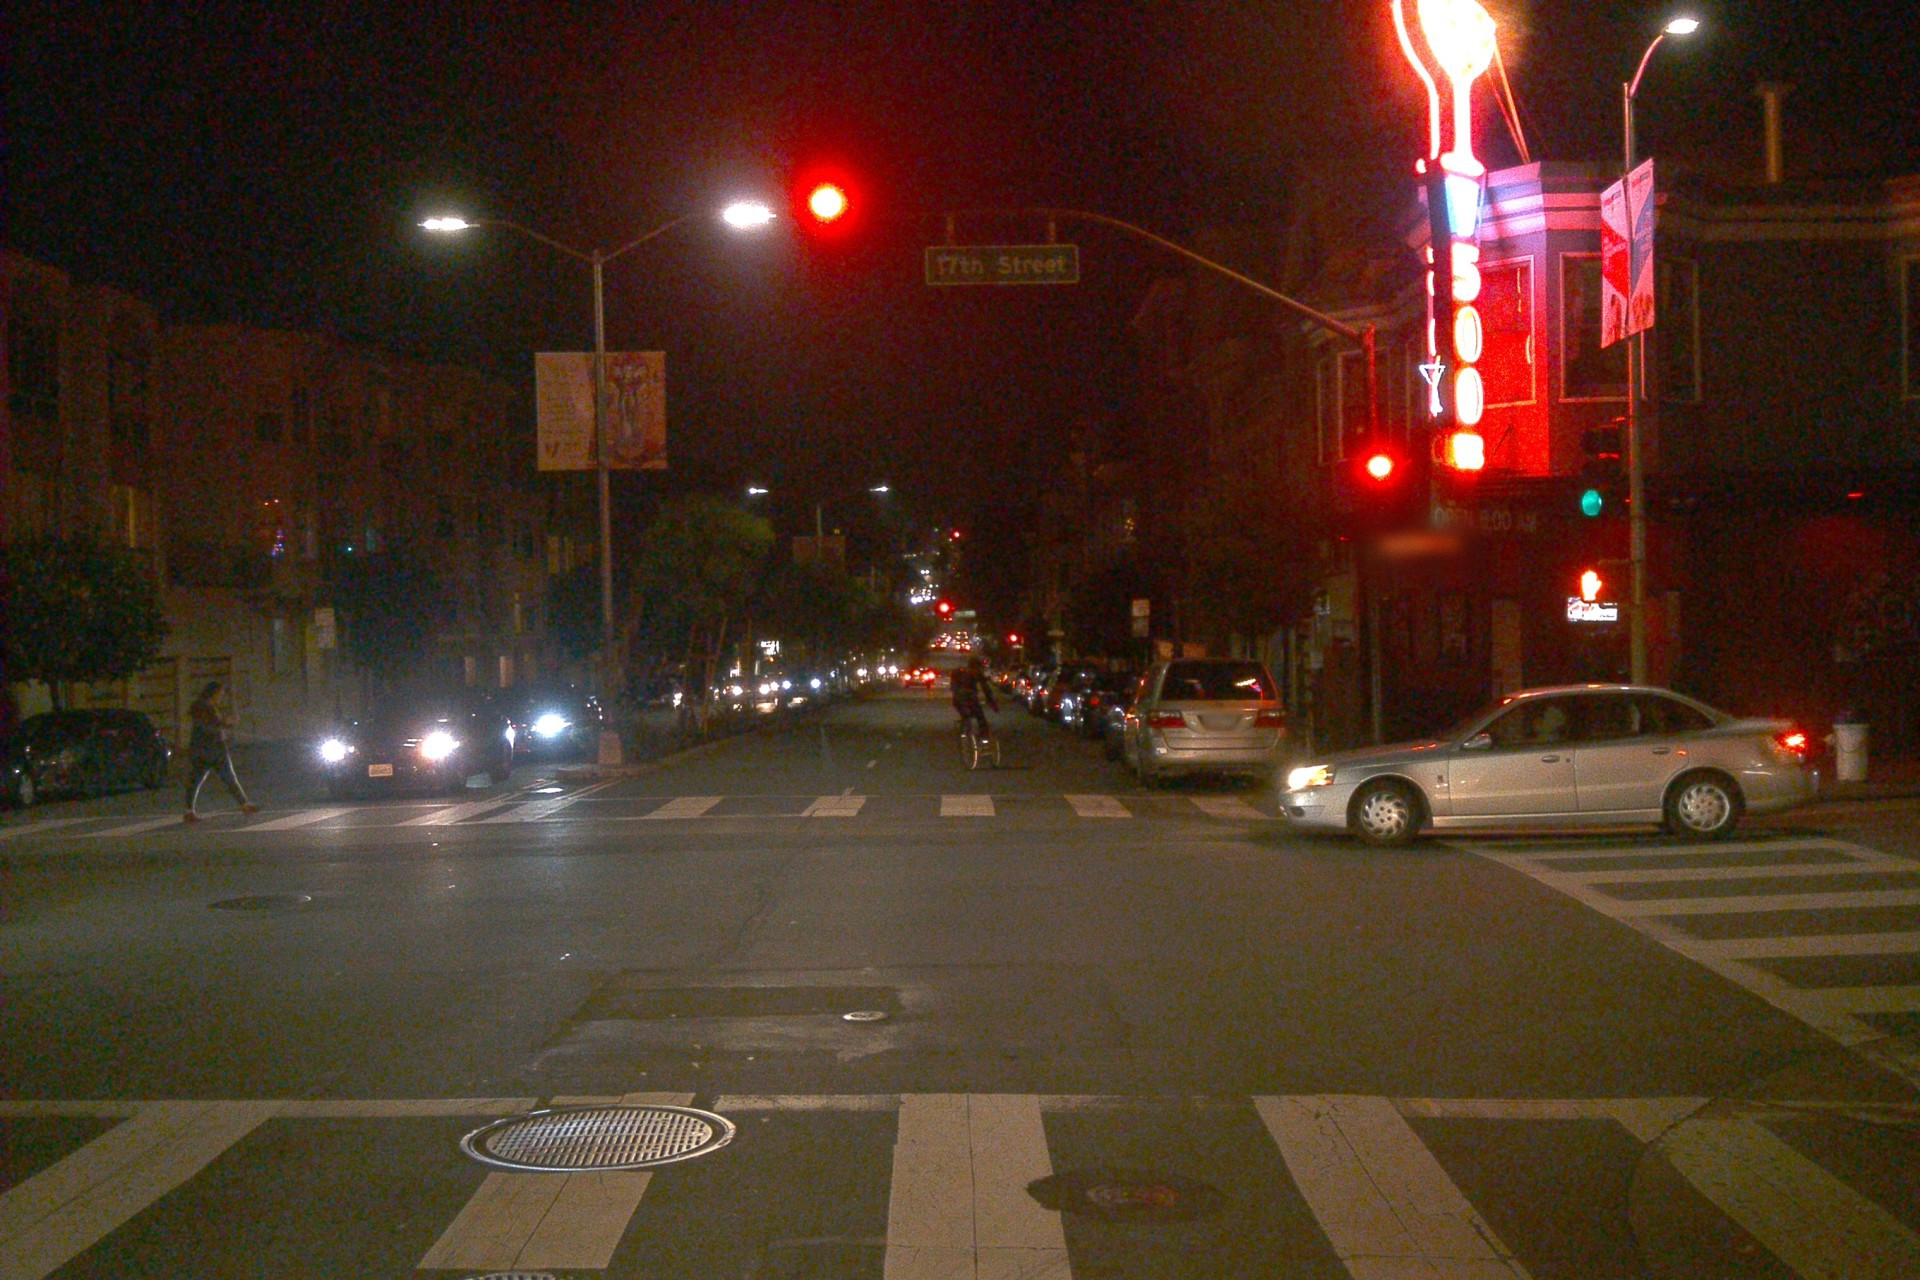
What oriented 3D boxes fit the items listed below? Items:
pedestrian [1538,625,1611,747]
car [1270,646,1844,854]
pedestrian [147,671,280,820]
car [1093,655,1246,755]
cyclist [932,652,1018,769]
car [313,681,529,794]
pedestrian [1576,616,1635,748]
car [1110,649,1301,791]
[{"bbox_3d":[8.813,0.649,29.498,0.721,1.720,0.691,1,0,-18],"label":"pedestrian"},{"bbox_3d":[5.320,0.943,18.992,4.826,1.720,2.135,1,0,9],"label":"car"},{"bbox_3d":[-8.787,1.226,24.238,1.189,1.690,0.924,1,0,3],"label":"pedestrian"},{"bbox_3d":[3.322,0.998,33.307,1.810,1.470,4.216,1,0,-3],"label":"car"},{"bbox_3d":[0.253,1.070,32.163,0.823,1.760,1.916,1,0,17],"label":"cyclist"},{"bbox_3d":[-7.621,1.336,29.533,1.903,1.390,4.511,1,0,0],"label":"car"},{"bbox_3d":[9.050,0.582,28.828,0.739,1.820,0.628,1,0,20],"label":"pedestrian"},{"bbox_3d":[3.288,1.027,28.469,2.087,1.770,4.655,1,0,0],"label":"car"}]
